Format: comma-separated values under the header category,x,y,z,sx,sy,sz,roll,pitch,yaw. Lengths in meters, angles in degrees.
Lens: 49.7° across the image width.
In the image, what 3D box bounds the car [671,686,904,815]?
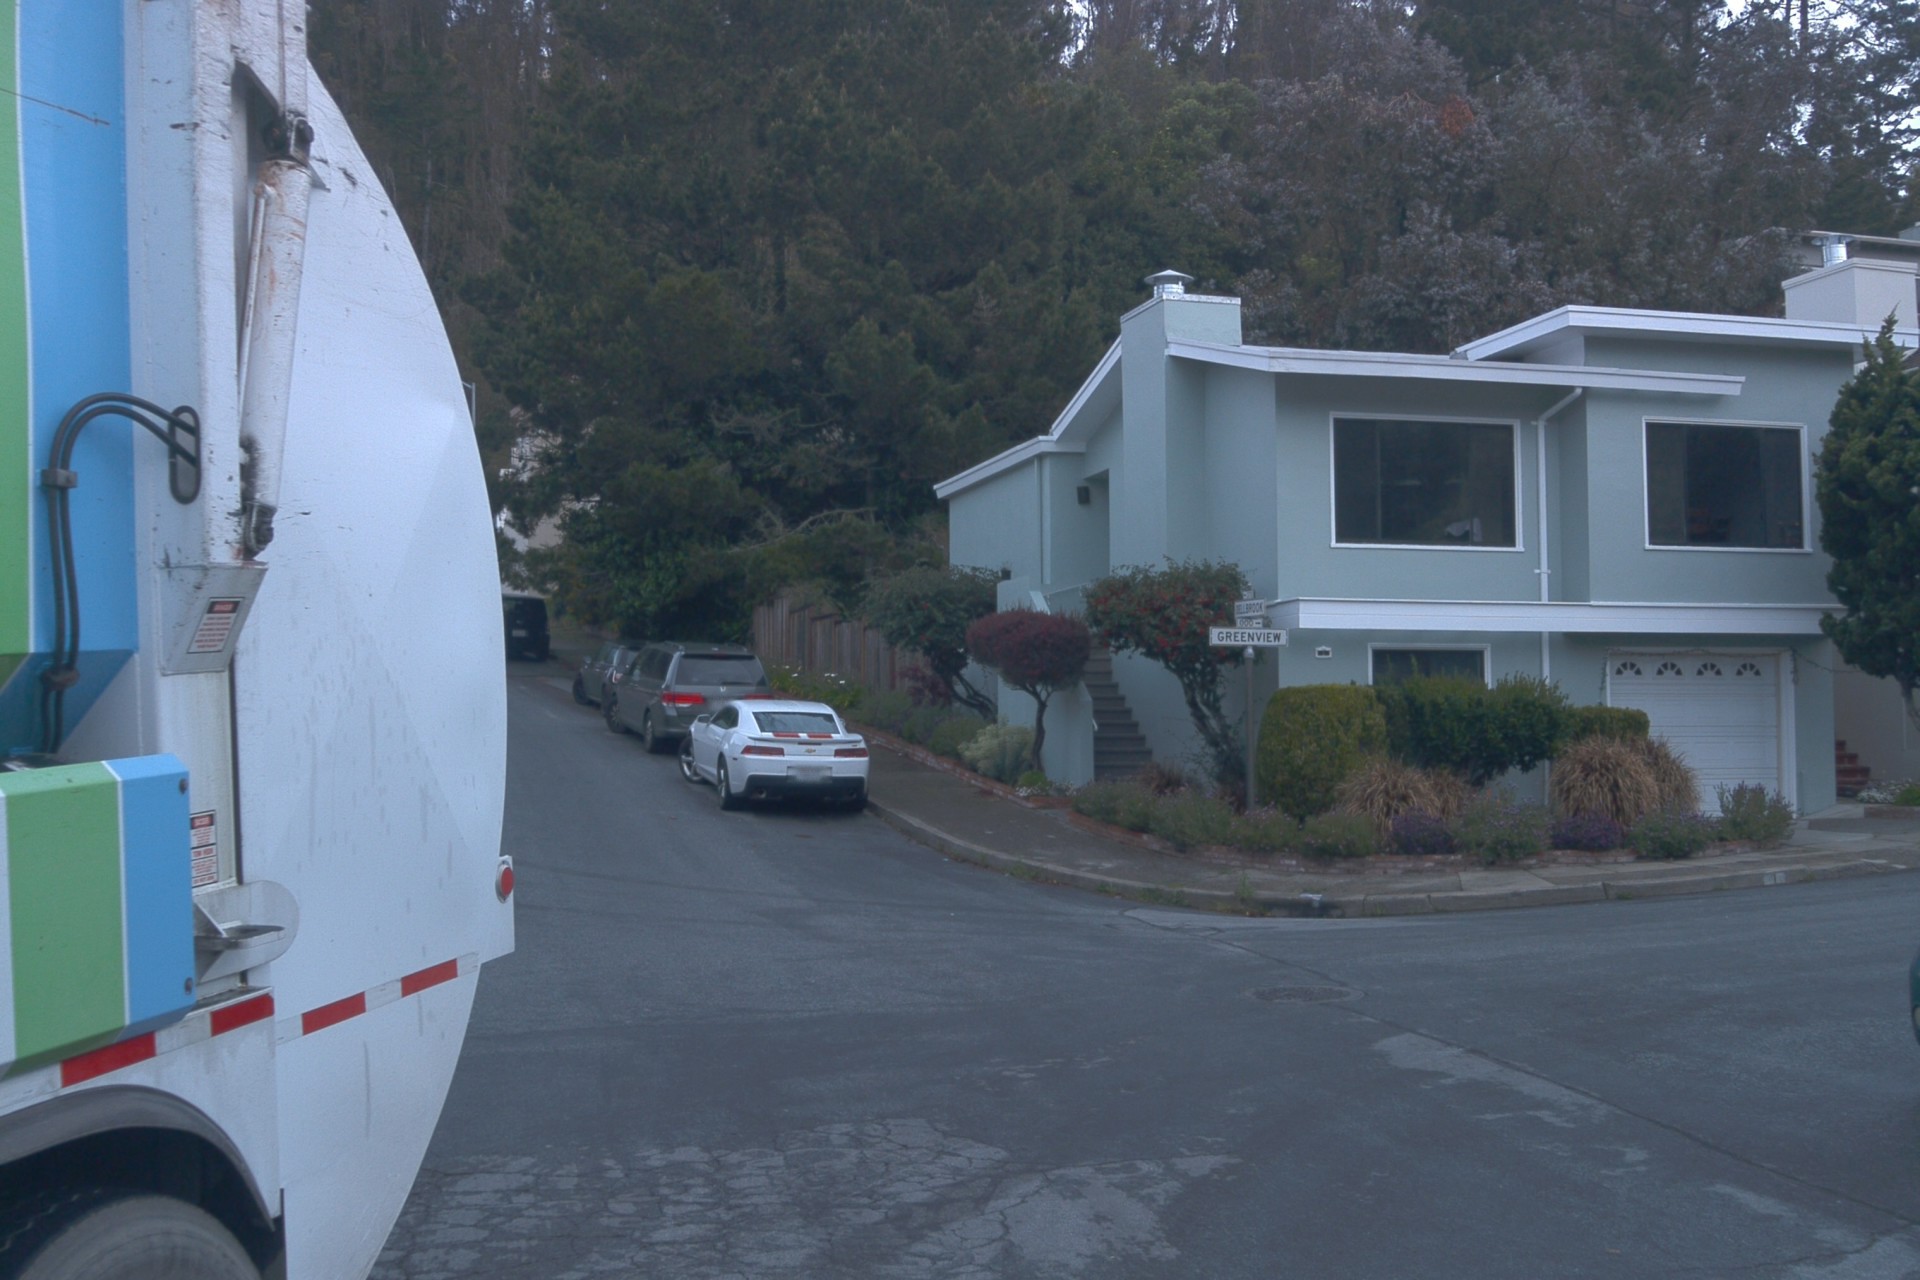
category,x,y,z,sx,sy,sz,roll,pitch,yaw
car,-2.478,1.438,28.396,2.197,1.510,4.909,0,0,-17

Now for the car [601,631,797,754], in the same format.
category,x,y,z,sx,sy,sz,roll,pitch,yaw
car,-4.468,0.831,34.770,2.316,1.910,4.712,0,0,-19
